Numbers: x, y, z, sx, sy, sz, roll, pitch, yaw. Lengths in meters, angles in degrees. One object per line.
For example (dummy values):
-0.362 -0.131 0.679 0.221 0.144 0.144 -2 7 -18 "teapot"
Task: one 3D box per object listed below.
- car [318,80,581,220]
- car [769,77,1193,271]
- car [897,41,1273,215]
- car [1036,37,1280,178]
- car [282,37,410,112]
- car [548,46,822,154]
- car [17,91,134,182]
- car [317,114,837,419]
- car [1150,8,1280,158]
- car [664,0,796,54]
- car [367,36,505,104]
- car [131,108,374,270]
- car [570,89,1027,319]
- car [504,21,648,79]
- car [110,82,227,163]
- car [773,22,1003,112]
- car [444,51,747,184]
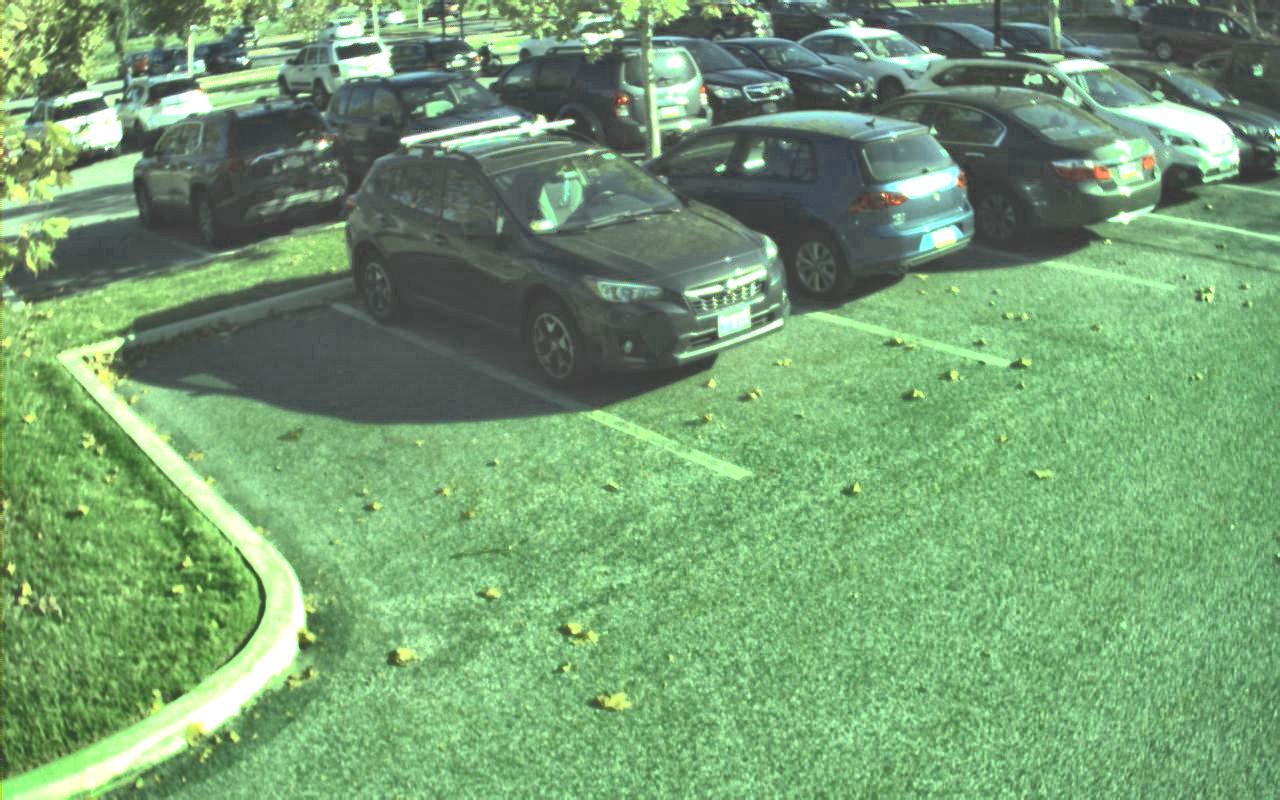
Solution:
-2.881 -3.684 17.576 1.958 1.600 4.404 -12 20 -34 "car"
3.564 -2.581 13.027 1.927 1.516 4.521 -12 20 -33 "car"
5.629 -3.578 15.024 2.028 1.717 4.745 -12 20 -34 "car"
7.859 -4.212 16.222 1.934 1.550 4.391 -12 20 -33 "car"
-7.975 -8.691 32.209 2.032 1.755 4.640 -11 19 -31 "car"
0.682 -5.165 20.994 4.496 1.610 1.975 15 23 42 "car"
-13.967 -6.433 27.582 2.057 1.822 4.666 -14 21 -37 "car"
-0.749 -1.352 10.177 1.959 1.663 4.487 -14 21 -38 "car"
10.440 -5.019 17.196 2.045 1.851 4.704 -14 21 -38 "car"
2.838 -12.057 39.695 2.000 1.705 4.576 -11 19 -30 "car"
-5.716 -9.062 33.529 2.007 1.665 4.540 -12 20 -34 "car"
-5.576 -3.060 16.546 2.014 1.683 4.654 -13 20 -35 "car"
1.387 -2.030 11.790 1.889 1.595 4.173 -15 21 -39 "car"
-2.008 -10.544 37.134 2.005 1.656 4.597 -14 21 -37 "car"
-12.014 -6.996 29.275 2.000 1.706 4.545 -12 20 -34 "car"
4.885 -6.692 24.264 1.976 1.620 4.553 -12 20 -33 "car"
-0.805 -4.403 18.820 2.027 1.739 4.679 -16 22 -41 "car"
